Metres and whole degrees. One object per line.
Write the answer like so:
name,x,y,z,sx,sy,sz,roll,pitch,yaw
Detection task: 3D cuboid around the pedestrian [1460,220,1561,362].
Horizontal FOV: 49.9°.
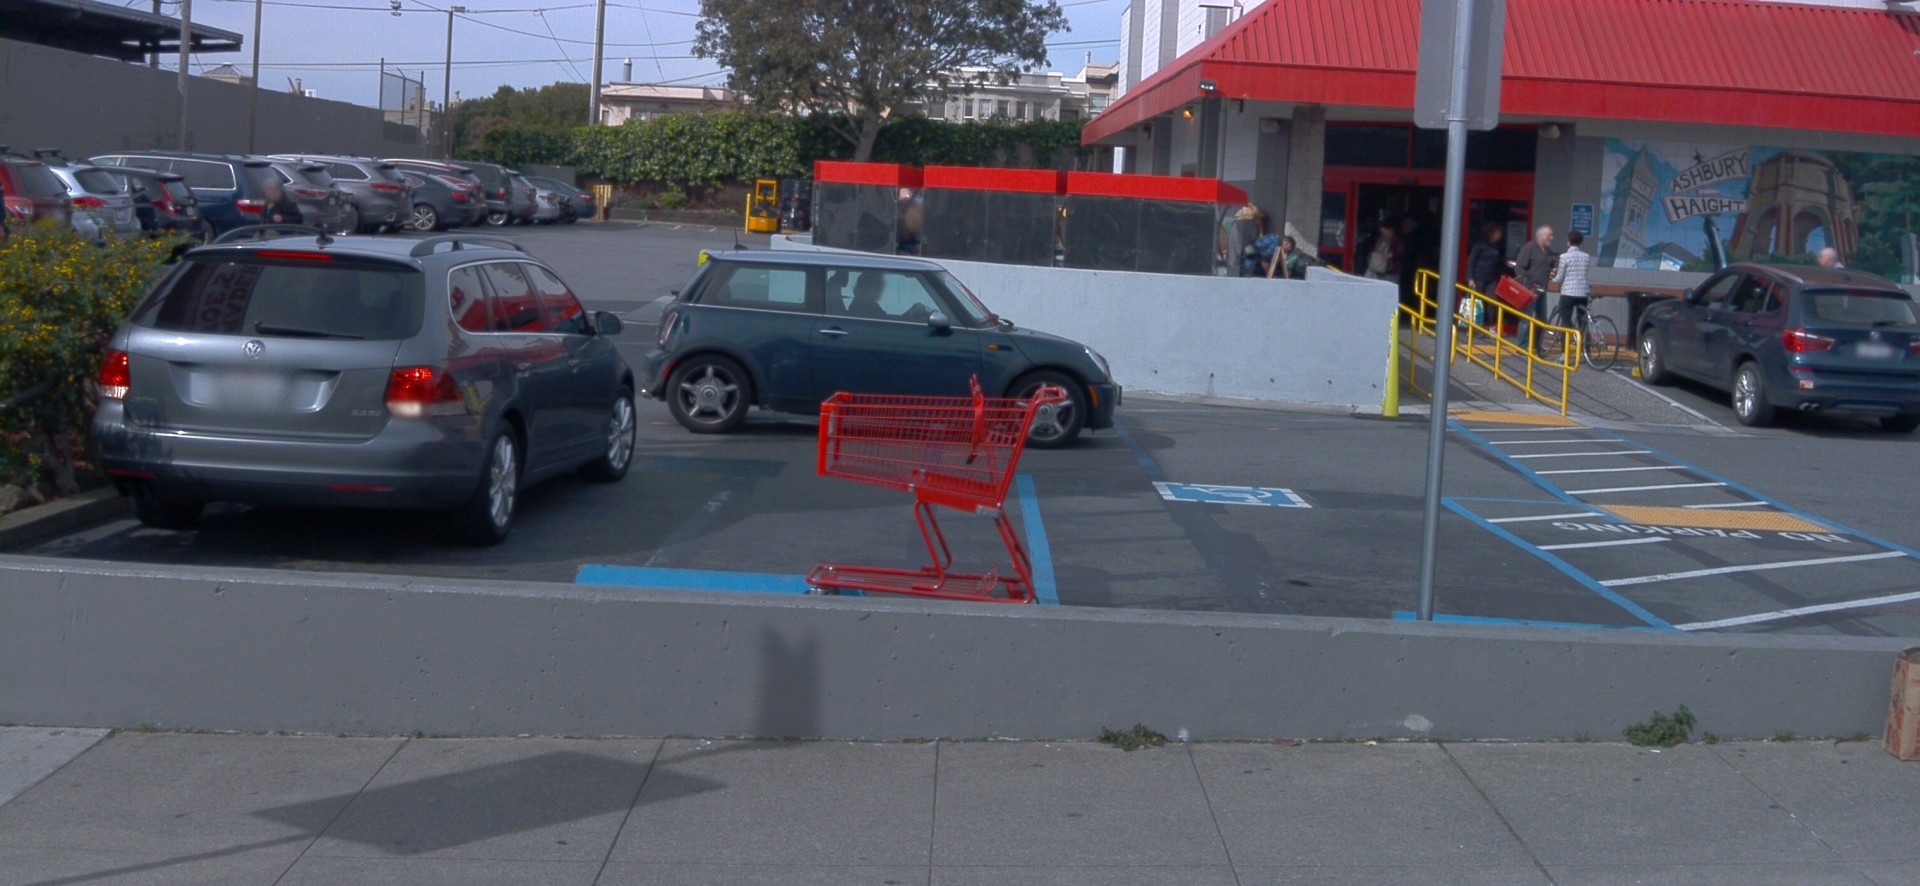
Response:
pedestrian,7.101,-1.978,26.679,0.965,1.786,0.917,0,1,-10

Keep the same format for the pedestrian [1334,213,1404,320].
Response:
pedestrian,6.227,-2.694,31.474,0.703,1.606,0.849,0,1,-22

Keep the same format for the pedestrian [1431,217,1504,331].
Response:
pedestrian,7.112,-2.374,28.939,0.803,1.567,0.610,-1,1,-33

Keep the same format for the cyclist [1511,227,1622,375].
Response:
cyclist,7.607,-1.808,25.947,0.634,1.800,1.377,0,2,-21

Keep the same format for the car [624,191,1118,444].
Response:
car,-0.707,-1.027,16.257,3.667,1.858,1.849,0,3,-4

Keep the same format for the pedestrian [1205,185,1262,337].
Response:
pedestrian,4.009,-2.673,30.248,0.519,2.200,0.647,0,1,-42

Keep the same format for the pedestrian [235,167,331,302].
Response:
pedestrian,-8.646,-2.665,26.360,0.870,1.685,0.833,1,2,40
